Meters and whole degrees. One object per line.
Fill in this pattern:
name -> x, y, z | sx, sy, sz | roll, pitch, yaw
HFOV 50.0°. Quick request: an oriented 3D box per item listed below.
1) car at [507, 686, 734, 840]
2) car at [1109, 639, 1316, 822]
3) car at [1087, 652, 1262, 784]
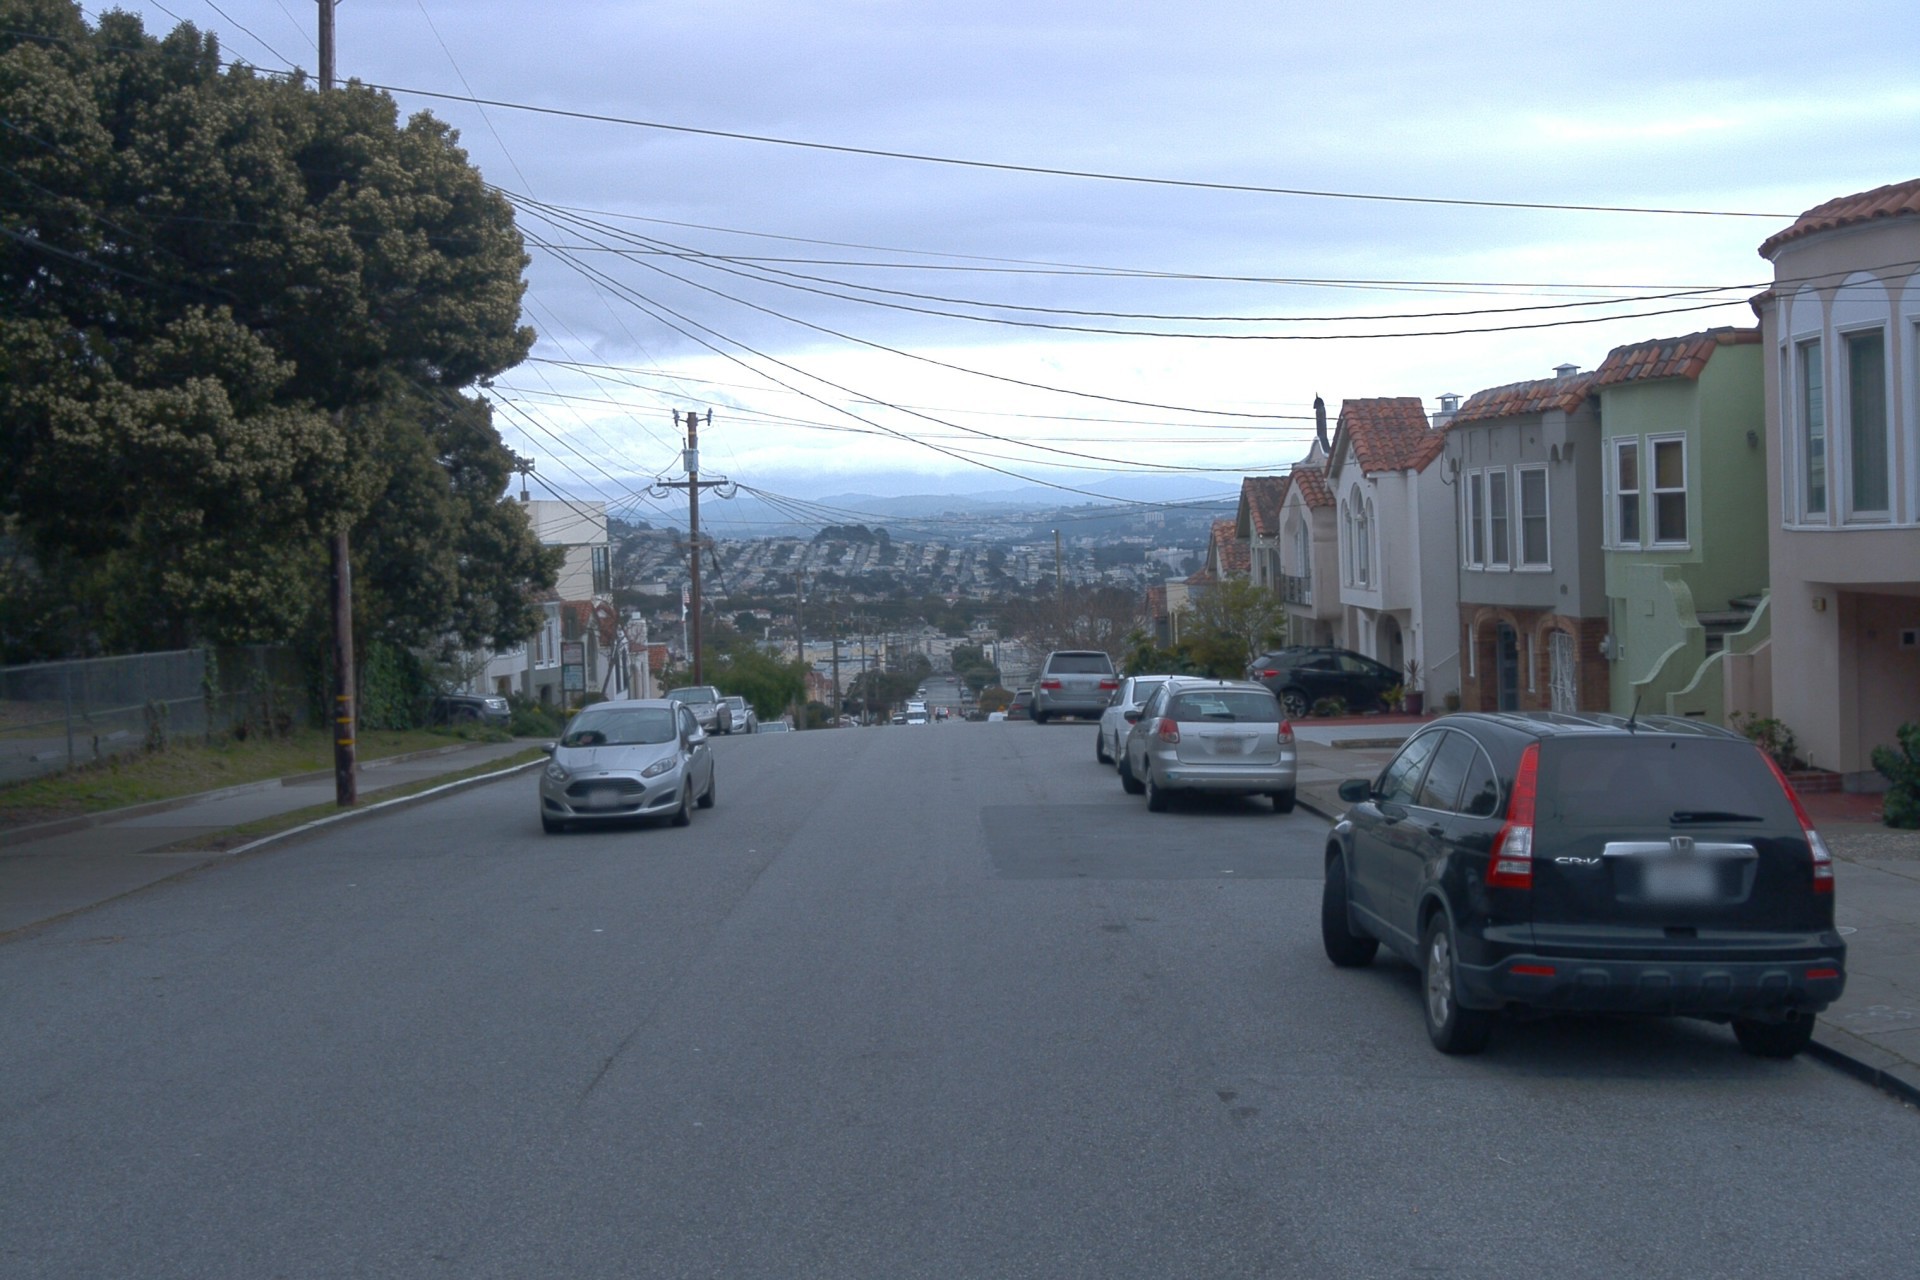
car -> -3.951, 1.394, 24.693 | 2.049, 1.590, 4.174 | 0, 0, 0
car -> 3.024, 1.028, 25.522 | 1.982, 2.084, 4.249 | 0, 0, -1
car -> 3.207, 1.132, 31.724 | 2.089, 1.860, 4.613 | 0, 0, -2
